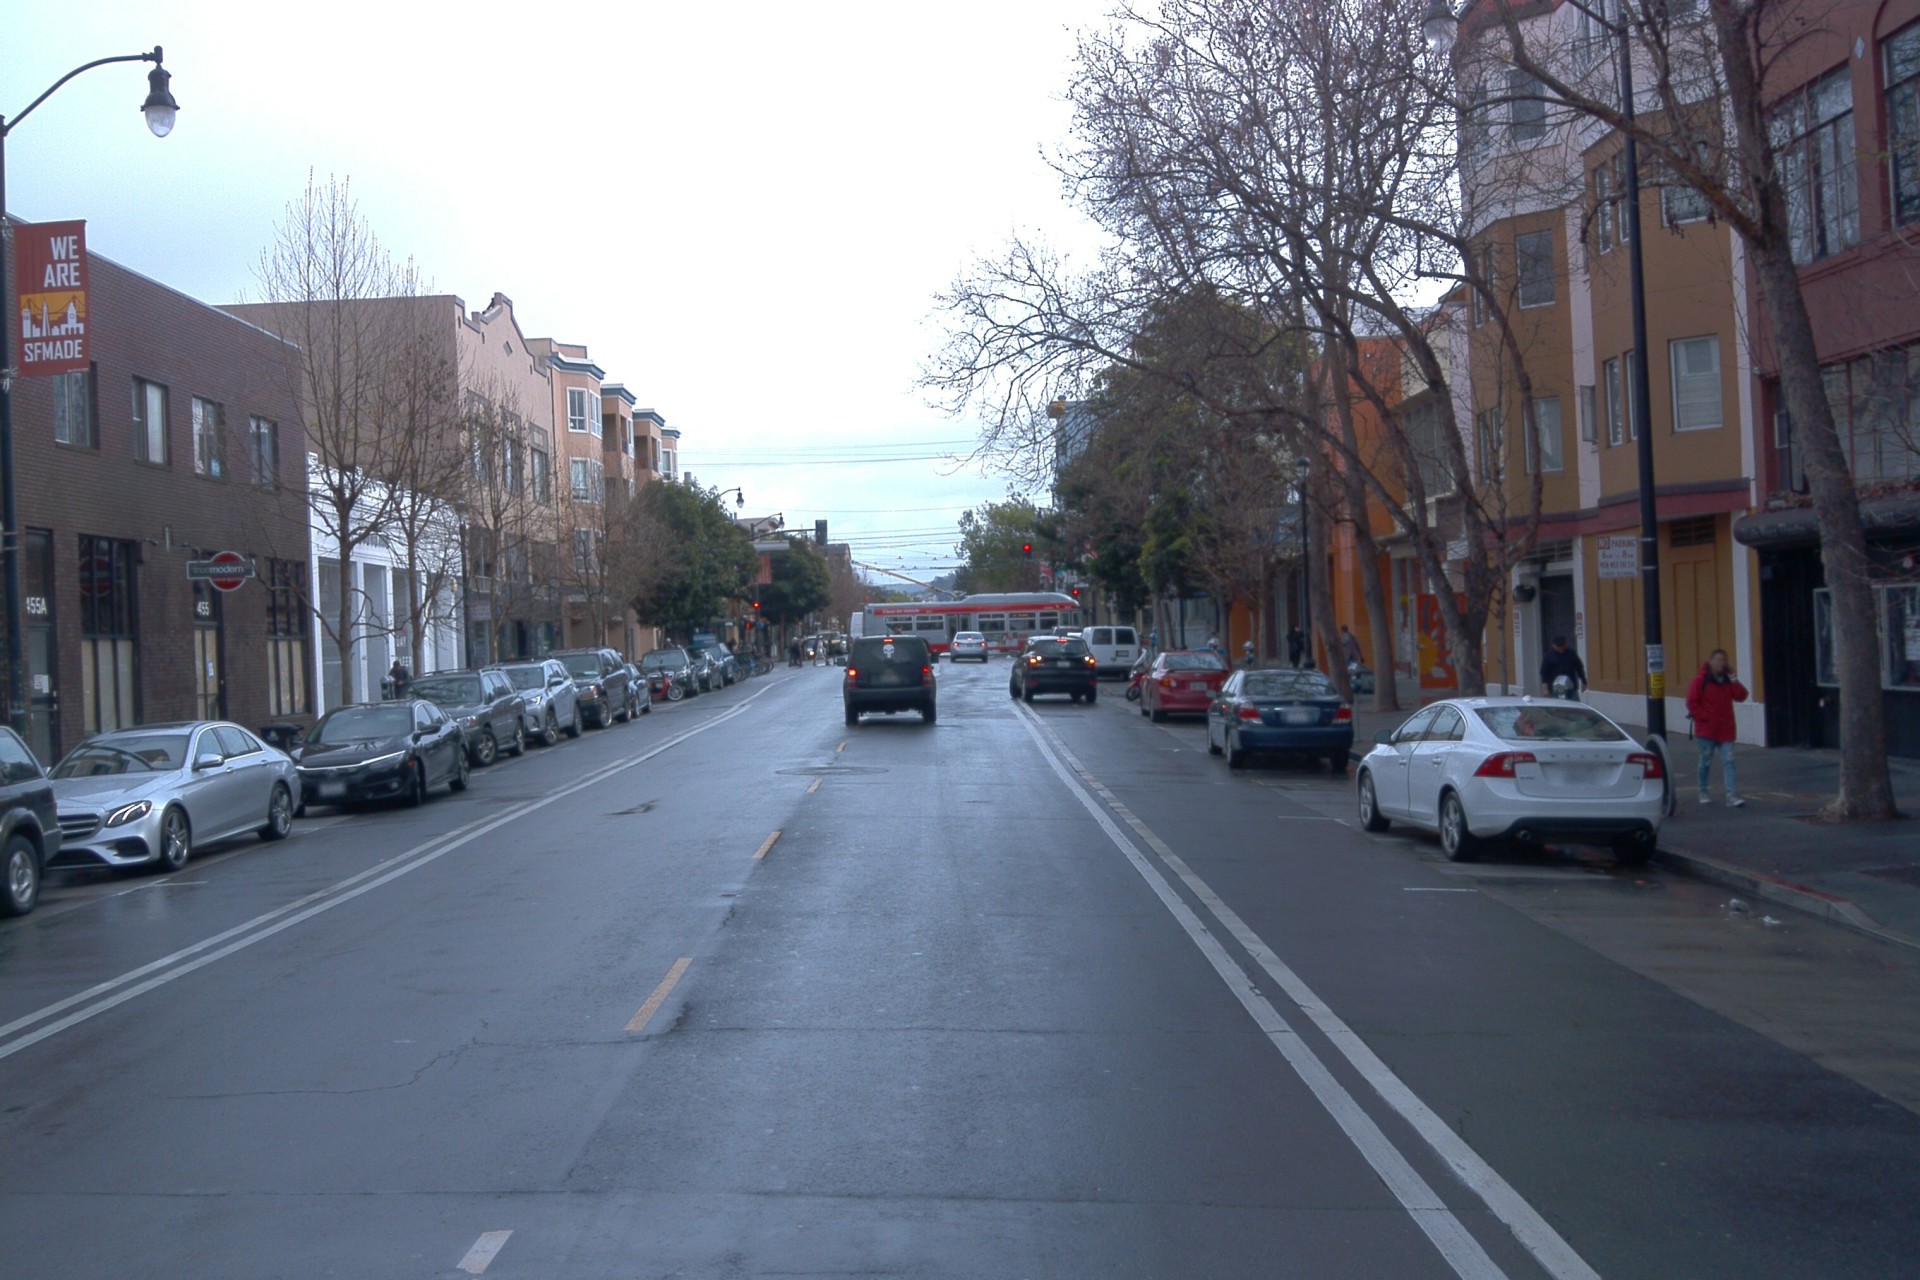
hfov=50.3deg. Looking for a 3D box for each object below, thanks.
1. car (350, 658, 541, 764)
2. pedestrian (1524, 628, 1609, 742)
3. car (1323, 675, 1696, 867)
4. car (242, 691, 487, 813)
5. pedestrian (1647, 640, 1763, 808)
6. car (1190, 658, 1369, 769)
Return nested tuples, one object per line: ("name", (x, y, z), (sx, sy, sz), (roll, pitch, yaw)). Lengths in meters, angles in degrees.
("car", (-9.046, 1.209, 36.435), (2.172, 1.670, 4.944), (1, 0, 0))
("pedestrian", (9.124, 0.662, 30.810), (0.973, 1.680, 1.055), (1, 0, 1))
("car", (5.138, 1.169, 19.893), (2.080, 1.530, 4.659), (0, 0, -4))
("car", (-8.099, 1.473, 28.274), (2.104, 1.390, 4.688), (0, 0, -1))
("pedestrian", (7.825, 0.864, 21.522), (0.856, 1.707, 1.009), (1, 0, 1))
("car", (4.833, 1.073, 31.618), (2.022, 1.490, 4.839), (1, 0, 0))
